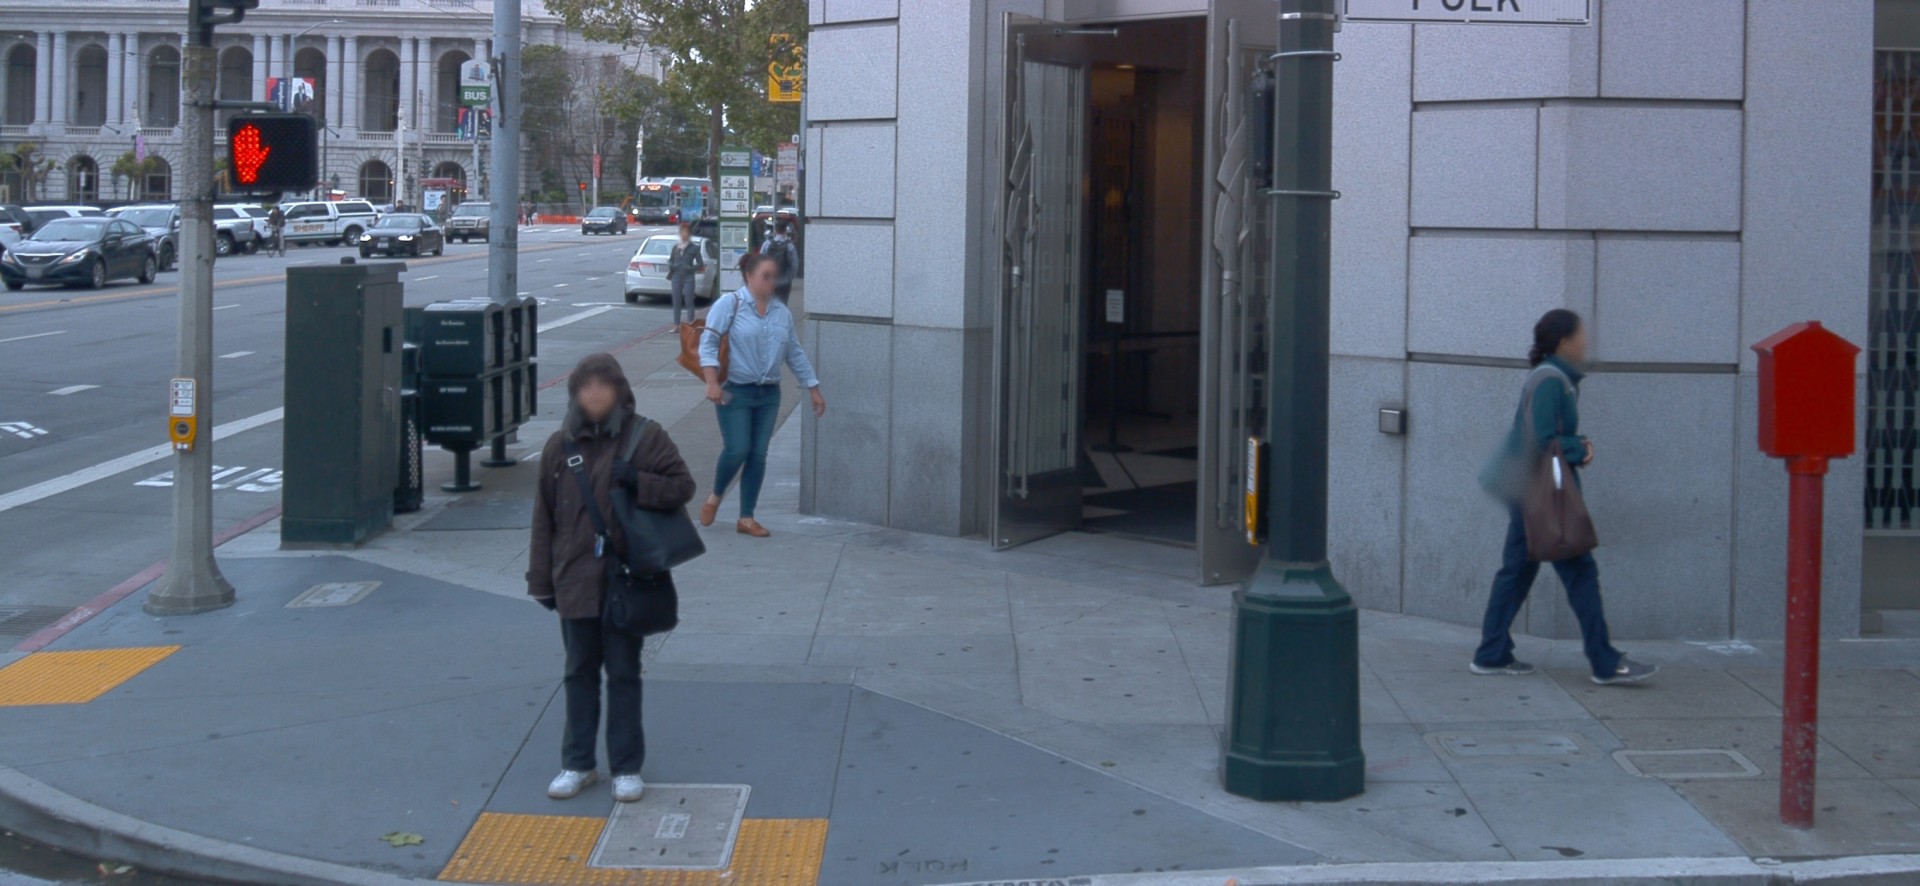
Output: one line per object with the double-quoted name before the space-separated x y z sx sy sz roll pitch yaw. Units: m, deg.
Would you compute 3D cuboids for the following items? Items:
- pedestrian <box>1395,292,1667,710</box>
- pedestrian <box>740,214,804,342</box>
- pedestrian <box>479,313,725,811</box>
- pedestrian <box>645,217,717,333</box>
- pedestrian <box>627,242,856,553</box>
"pedestrian" 2.446 0.204 8.927 0.999 1.687 0.869 0 2 6
"pedestrian" -2.700 -2.398 29.710 0.875 1.808 1.129 0 2 -3
"pedestrian" -1.289 0.396 7.521 0.799 1.707 0.672 0 2 -2
"pedestrian" -4.368 -2.648 32.270 0.850 1.788 0.790 1 2 19
"pedestrian" -1.350 -0.332 12.675 1.055 1.801 0.960 -2 3 -38
